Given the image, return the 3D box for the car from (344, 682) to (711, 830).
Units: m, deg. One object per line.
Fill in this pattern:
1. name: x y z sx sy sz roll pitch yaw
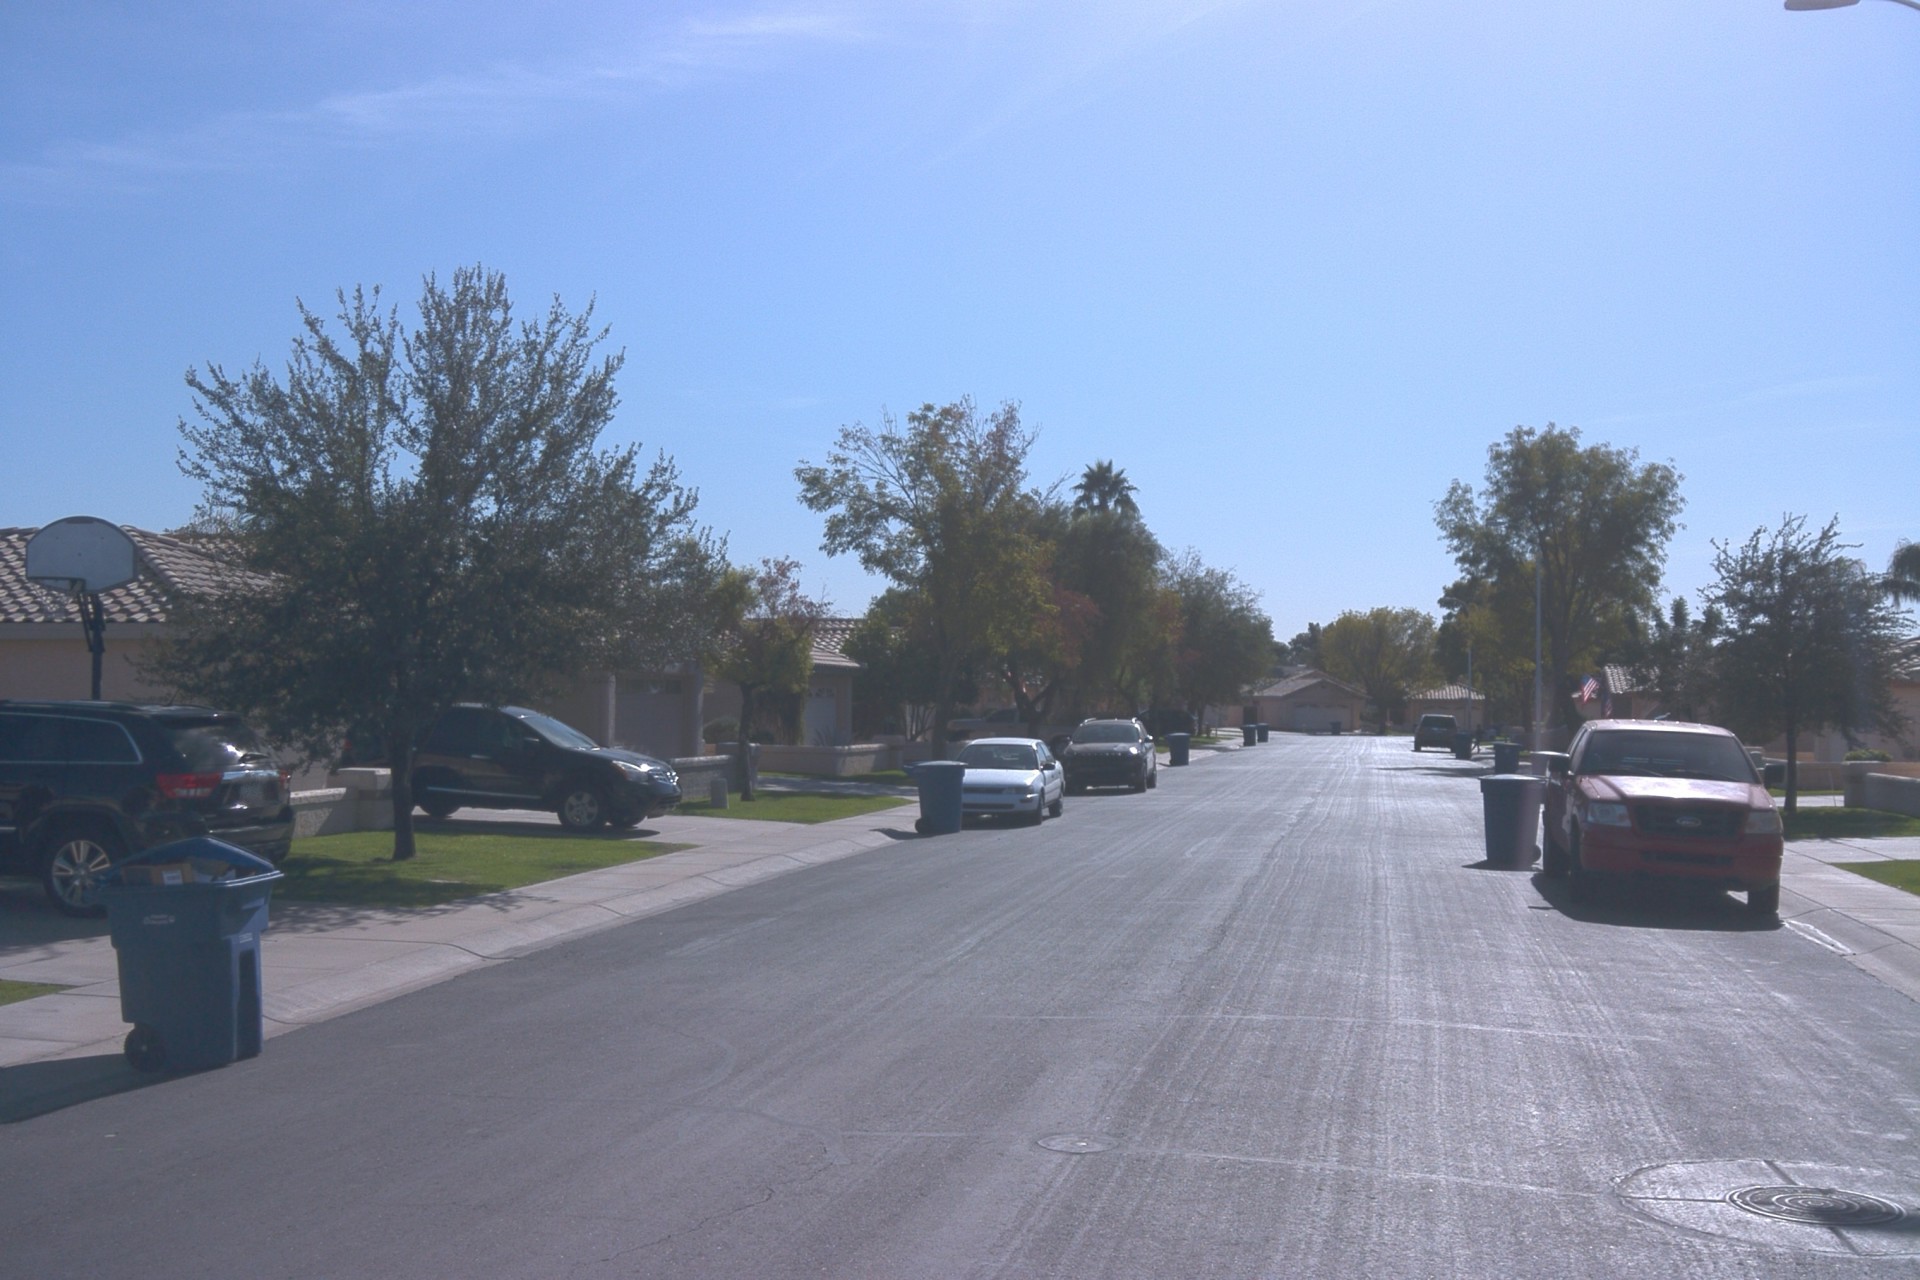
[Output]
1. car: -5.904 1.543 28.378 4.511 1.880 2.063 0 0 12

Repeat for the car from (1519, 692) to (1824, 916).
1. car: 7.456 1.610 22.234 2.441 1.980 5.474 0 0 12

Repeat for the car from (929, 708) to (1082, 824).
1. car: 0.840 2.050 34.592 1.888 1.690 4.361 0 0 11
